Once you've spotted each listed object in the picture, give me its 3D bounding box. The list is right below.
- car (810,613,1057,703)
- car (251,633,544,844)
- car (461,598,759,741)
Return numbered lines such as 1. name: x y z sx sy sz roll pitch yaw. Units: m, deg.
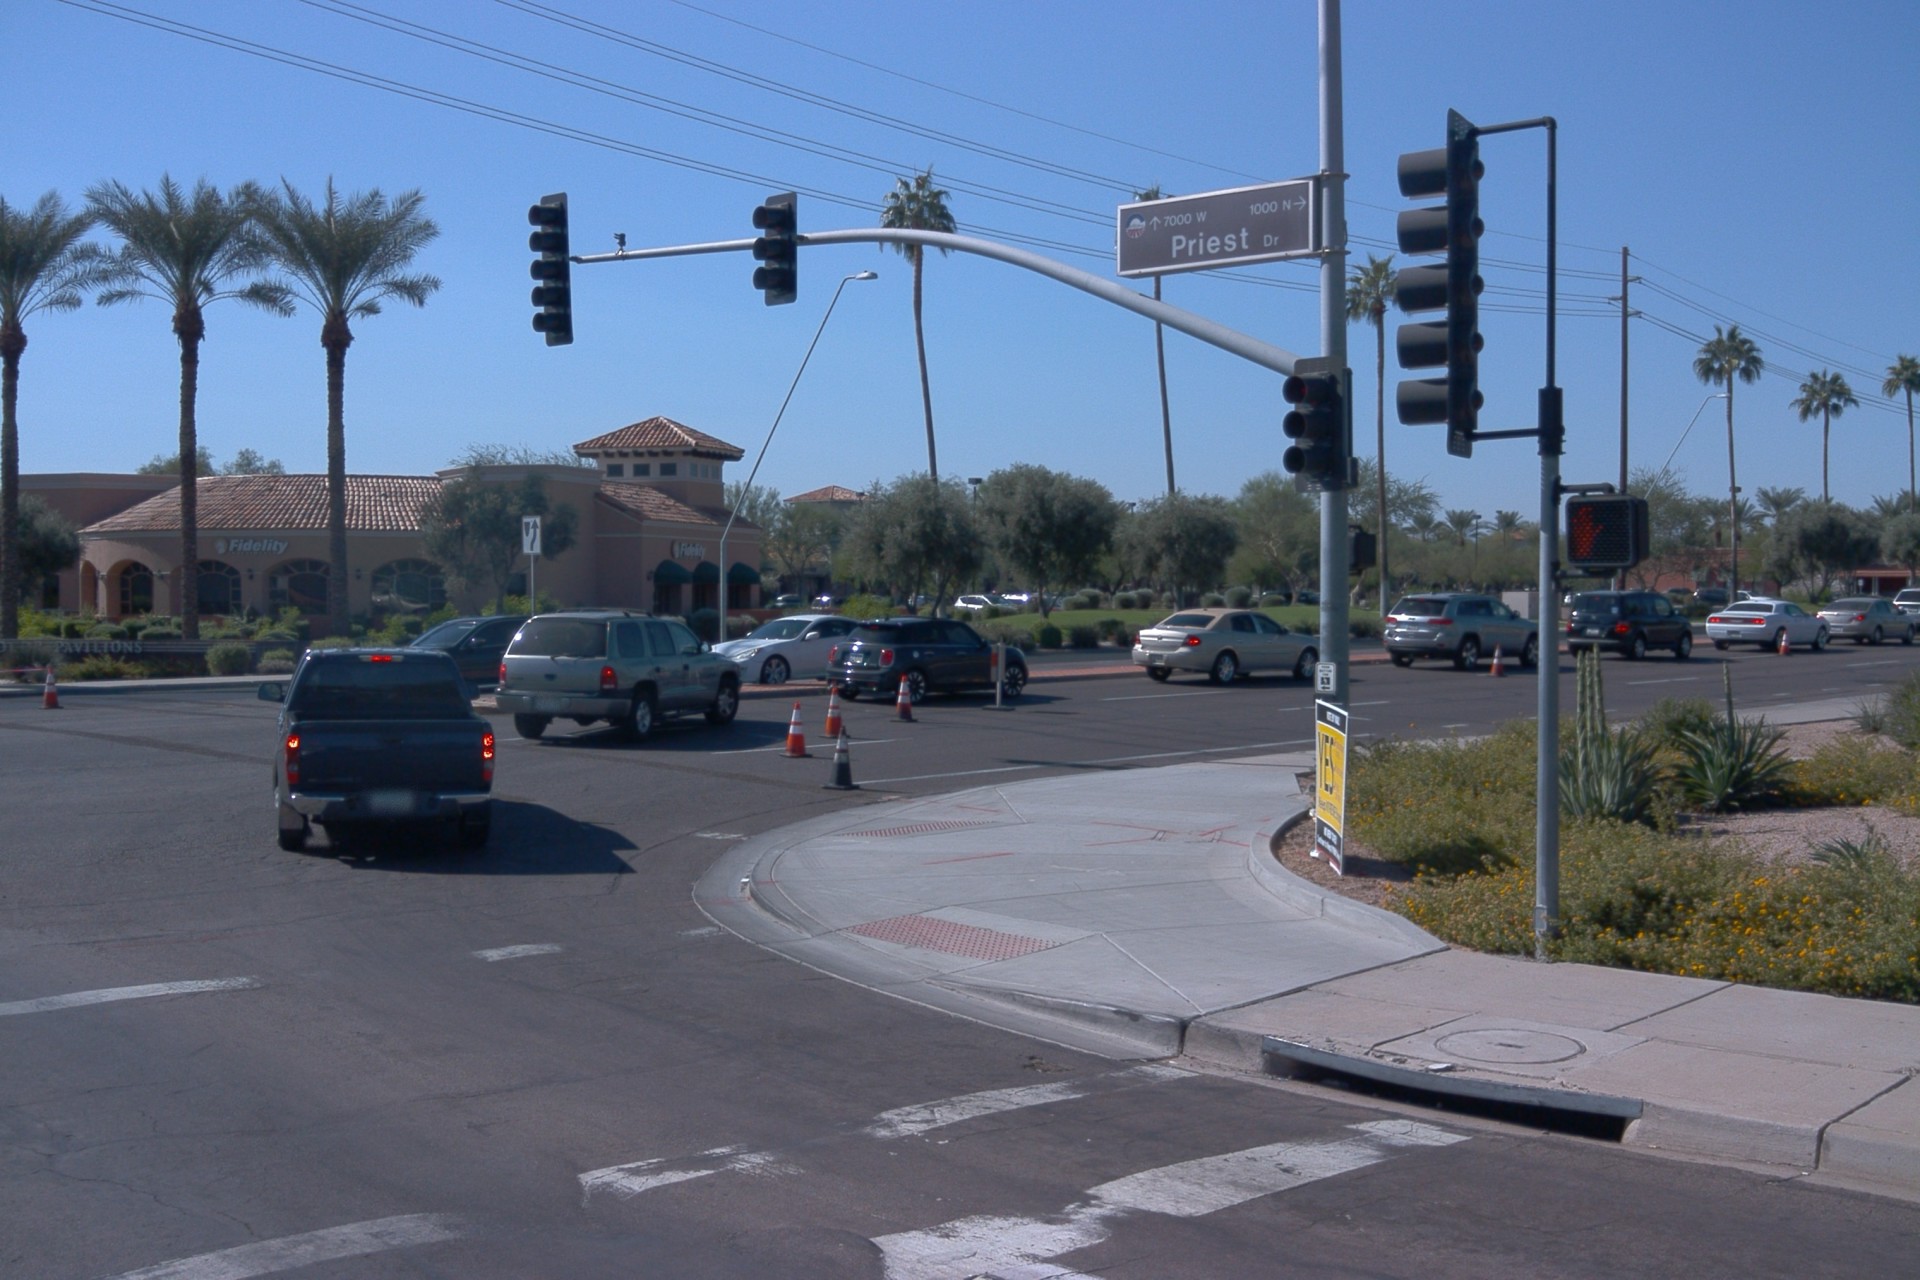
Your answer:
1. car: -0.405 0.309 36.410 1.931 1.480 4.287 1 0 42
2. car: -5.204 0.772 18.686 2.145 1.630 4.957 1 0 -20
3. car: -4.818 0.395 29.436 2.174 1.830 4.920 1 0 17
